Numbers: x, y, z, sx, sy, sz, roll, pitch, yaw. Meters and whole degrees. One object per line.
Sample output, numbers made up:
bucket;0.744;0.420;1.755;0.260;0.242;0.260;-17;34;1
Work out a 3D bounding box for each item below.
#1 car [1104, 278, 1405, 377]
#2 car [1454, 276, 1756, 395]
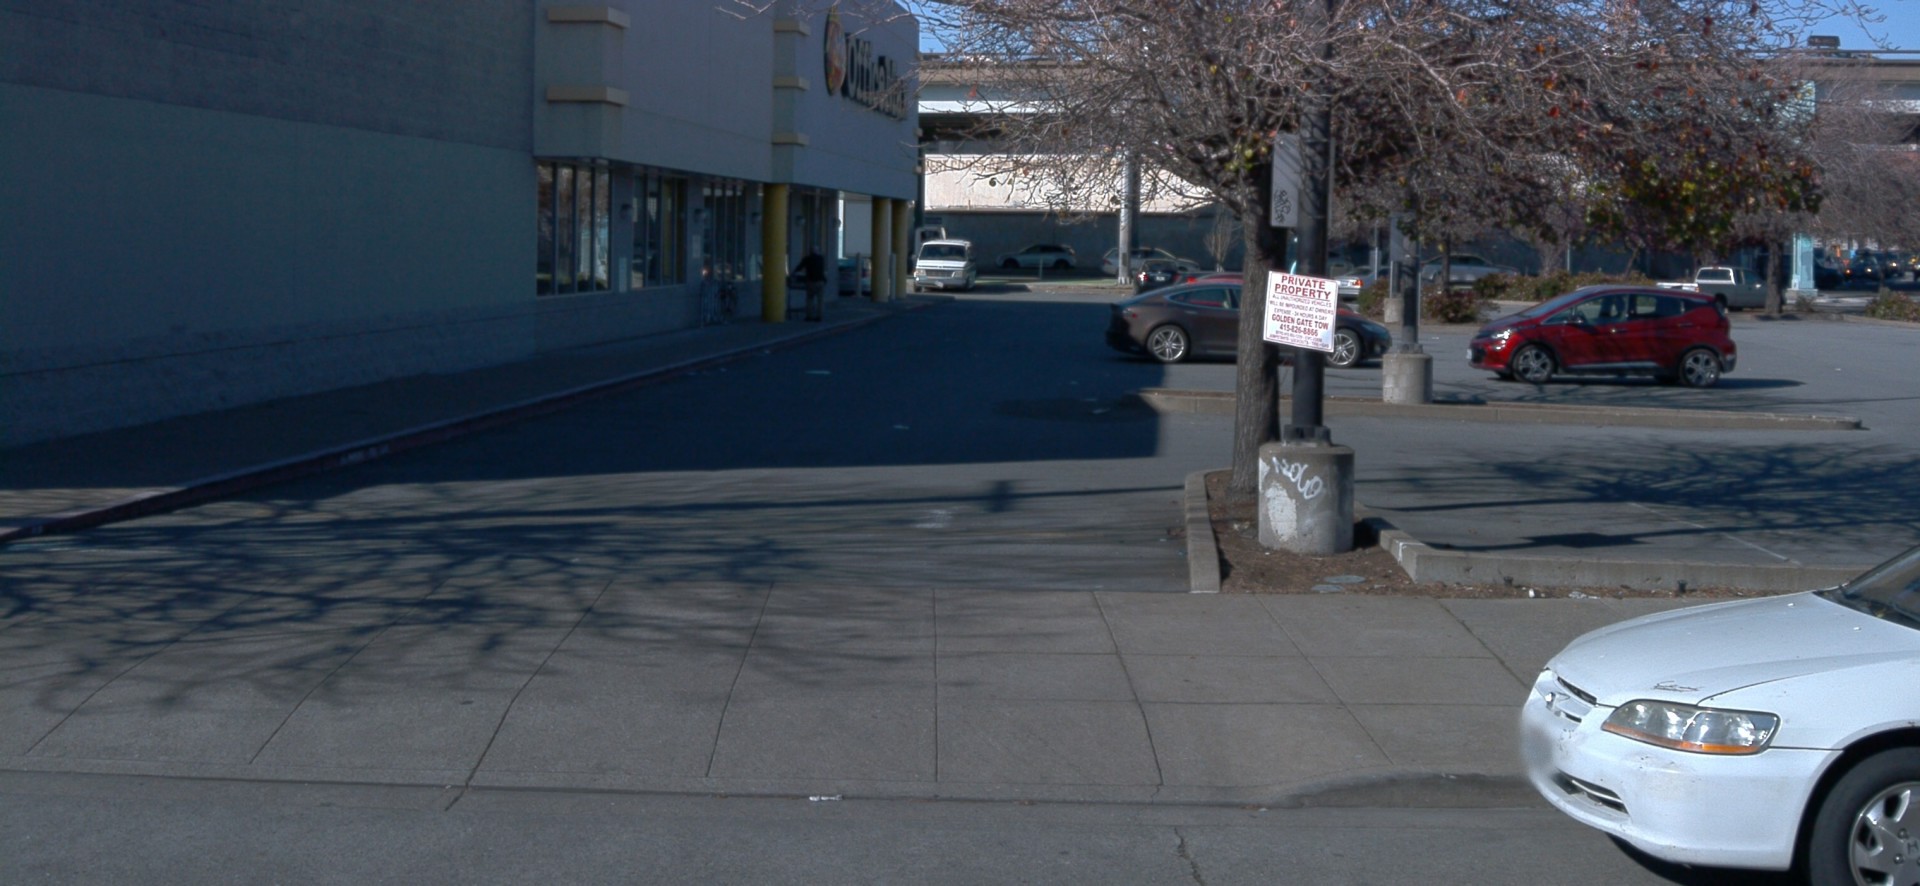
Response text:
car;5.060;-2.041;35.897;5.044;1.525;1.995;1;4;5
car;10.198;-1.743;32.763;4.156;1.695;2.038;1;4;2
